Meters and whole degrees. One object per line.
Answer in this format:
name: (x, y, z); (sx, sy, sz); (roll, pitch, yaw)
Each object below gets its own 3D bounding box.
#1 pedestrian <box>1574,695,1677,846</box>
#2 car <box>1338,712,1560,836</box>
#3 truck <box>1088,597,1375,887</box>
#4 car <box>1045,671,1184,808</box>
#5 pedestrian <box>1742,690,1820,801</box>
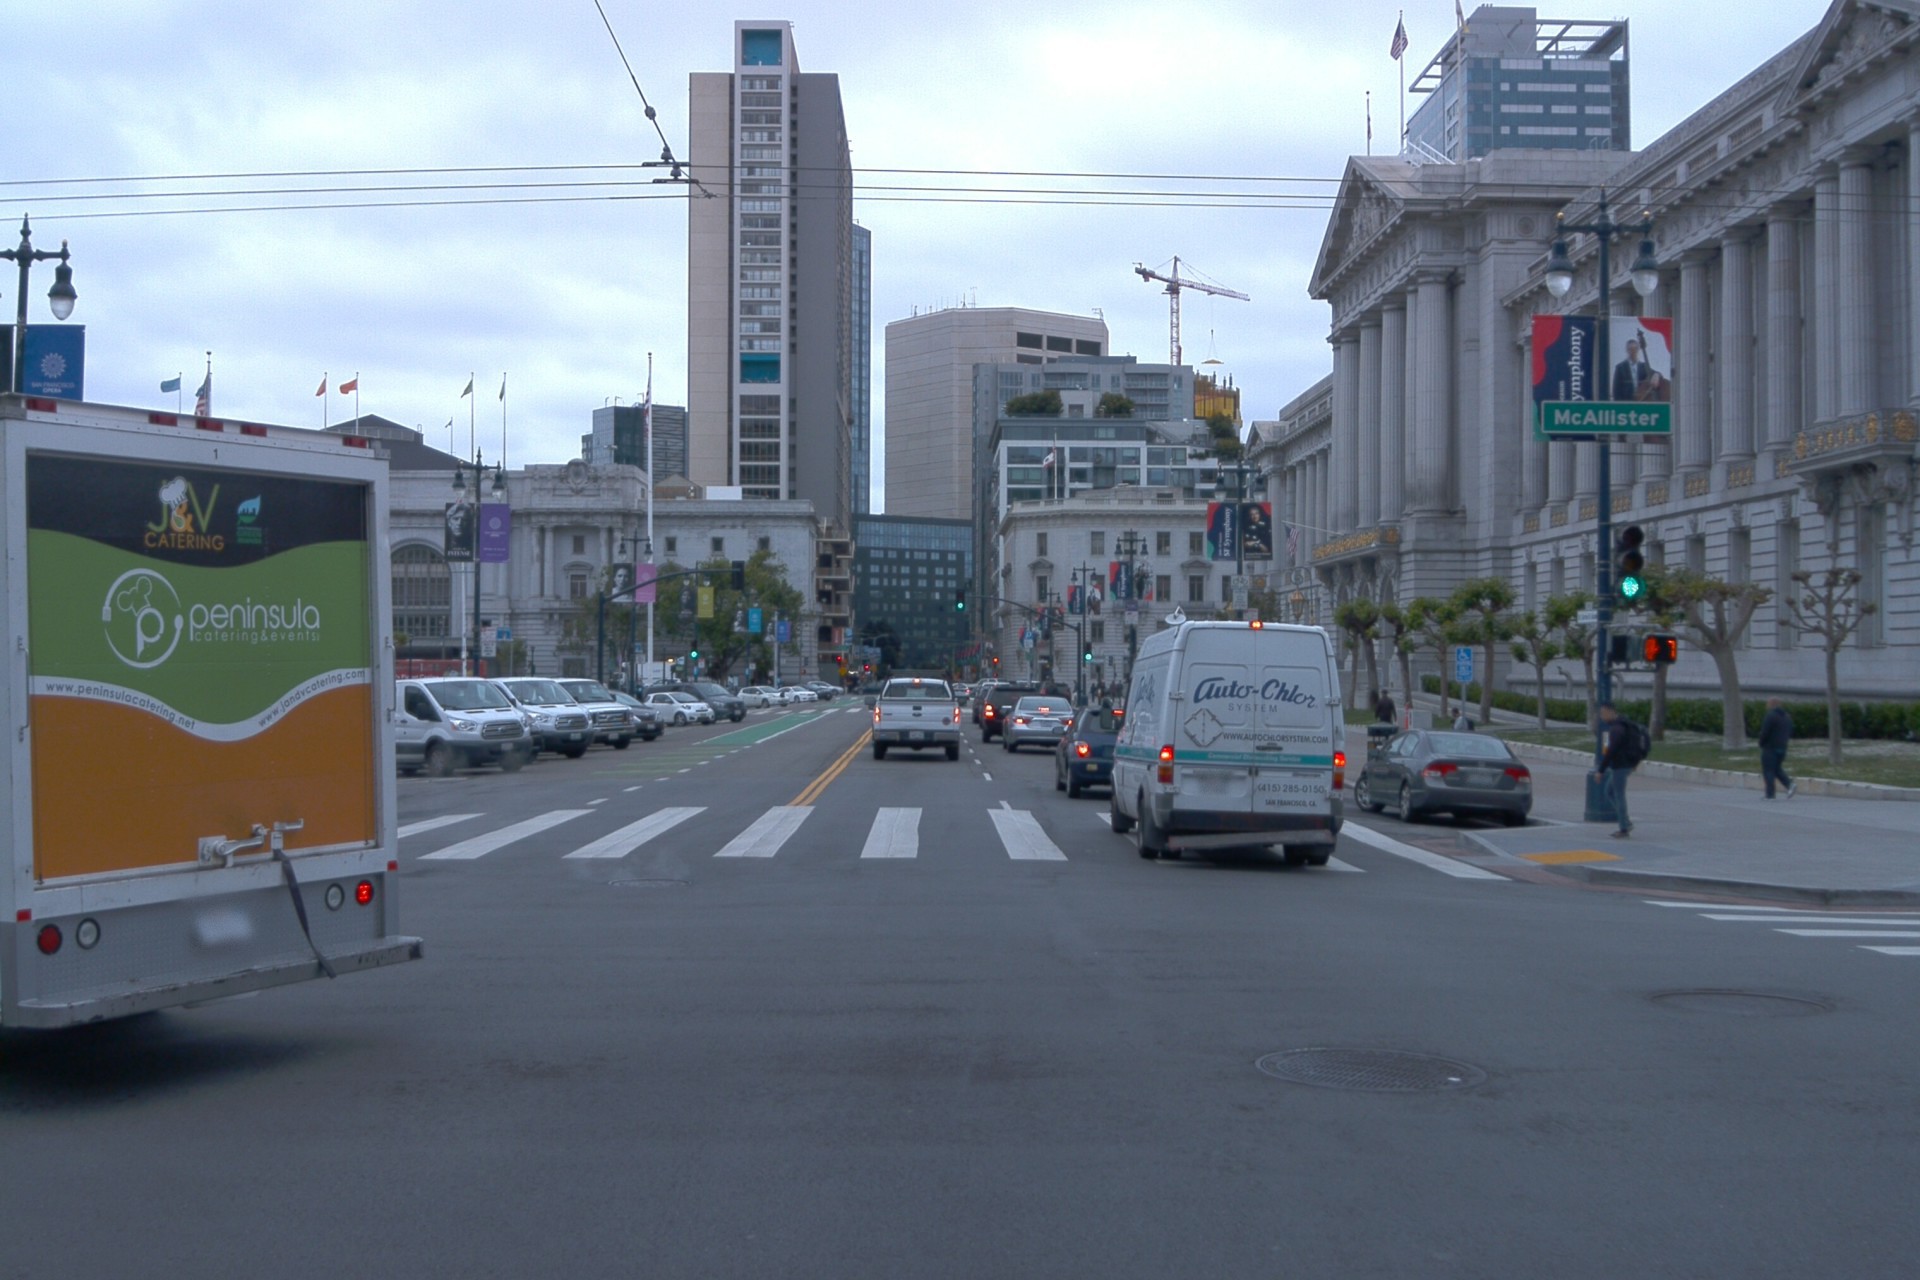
pedestrian: (8.205, 1.588, 25.360); (0.827, 1.760, 0.939); (-1, 1, -44)
car: (7.383, 1.983, 31.551); (2.033, 1.512, 4.560); (0, 1, -4)
truck: (2.875, 0.953, 23.392); (2.404, 2.850, 6.222); (0, 1, 0)
car: (2.492, 1.579, 34.015); (1.934, 1.990, 4.032); (0, 1, -1)
pedestrian: (13.556, 1.723, 33.955); (0.757, 1.757, 0.919); (-1, 1, -27)
